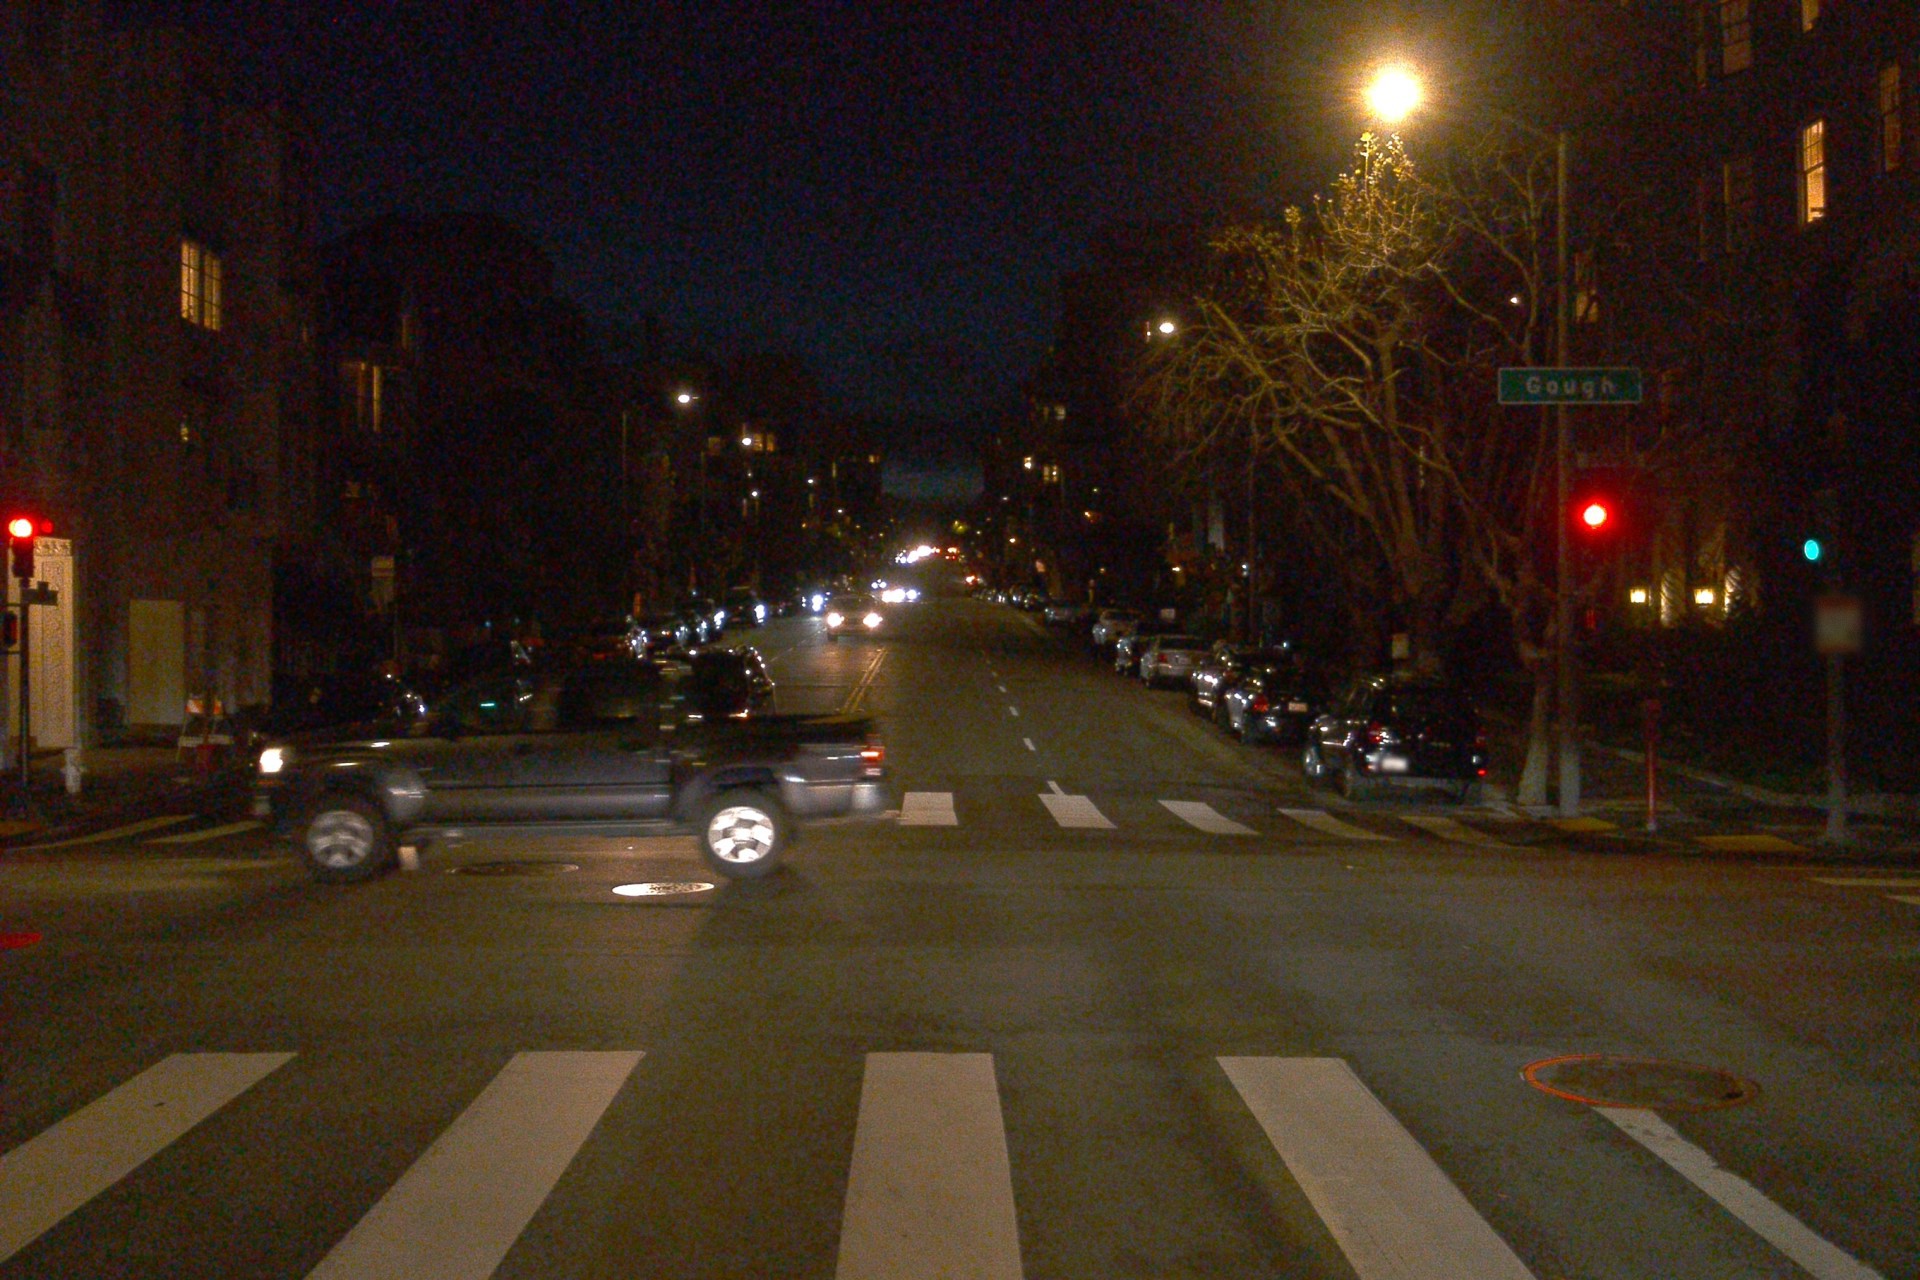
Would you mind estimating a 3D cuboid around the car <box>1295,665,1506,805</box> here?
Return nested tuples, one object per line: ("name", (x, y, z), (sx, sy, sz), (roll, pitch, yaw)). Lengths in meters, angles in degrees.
("car", (6.078, 1.260, 28.895), (1.802, 1.714, 4.078), (1, 0, -4))

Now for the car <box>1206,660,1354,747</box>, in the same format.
("car", (5.813, 1.129, 37.883), (1.802, 1.404, 4.078), (1, 0, -4))

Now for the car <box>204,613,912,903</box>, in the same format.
("car", (-3.124, 0.902, 17.025), (5.402, 2.142, 2.267), (1, 0, -1))

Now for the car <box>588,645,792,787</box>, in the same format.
("car", (-3.807, 1.026, 29.922), (2.293, 1.803, 4.677), (1, 0, 0))
